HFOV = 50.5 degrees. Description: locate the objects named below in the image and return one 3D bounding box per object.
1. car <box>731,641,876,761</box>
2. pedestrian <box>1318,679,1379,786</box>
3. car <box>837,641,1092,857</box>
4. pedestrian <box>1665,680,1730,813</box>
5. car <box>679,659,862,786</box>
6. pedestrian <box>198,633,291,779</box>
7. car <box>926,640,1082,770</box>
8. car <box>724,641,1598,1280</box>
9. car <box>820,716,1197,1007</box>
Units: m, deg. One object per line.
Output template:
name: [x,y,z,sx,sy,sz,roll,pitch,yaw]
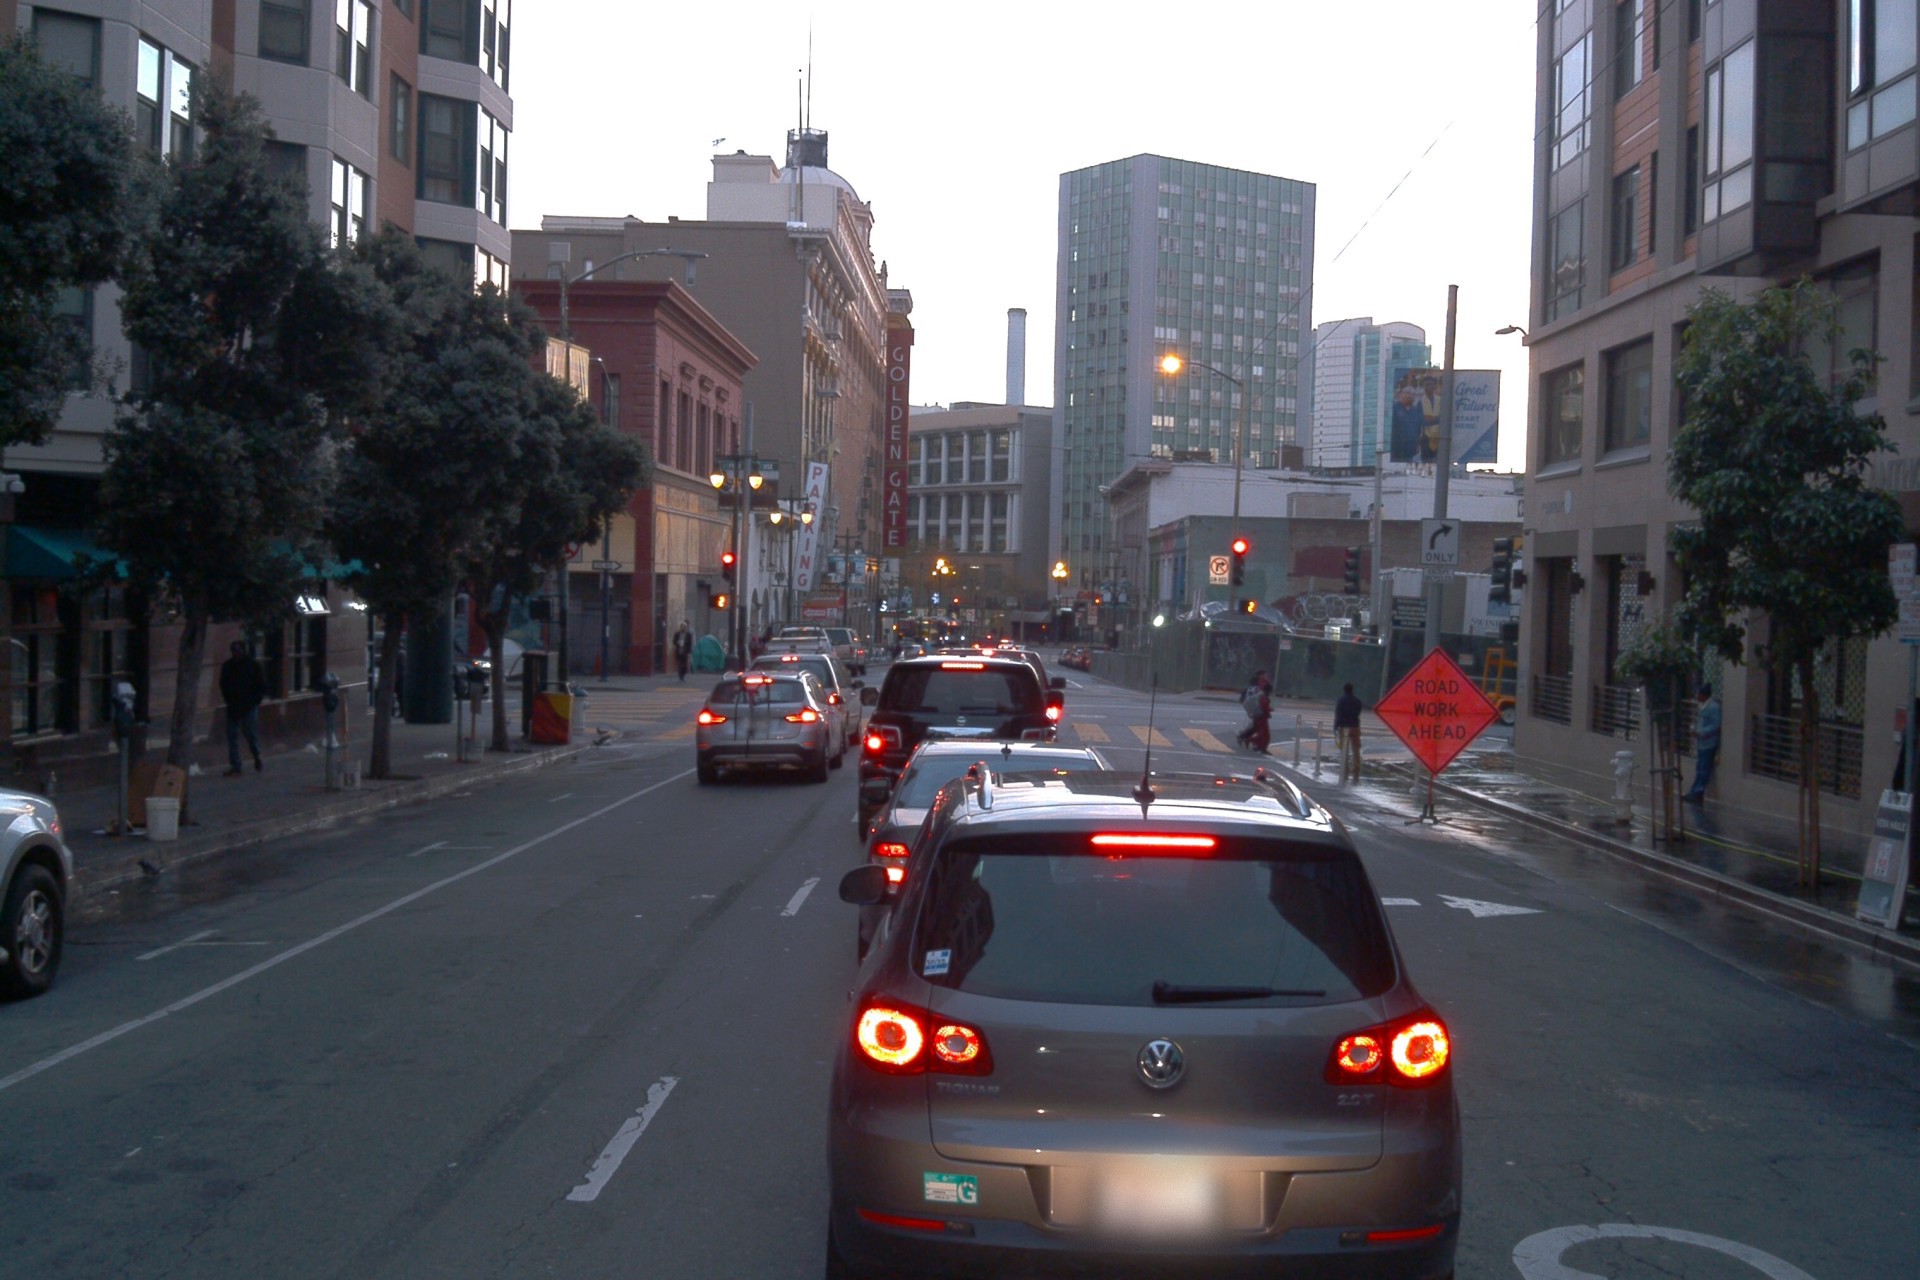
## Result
car: [-2.657,1.004,35.546,1.896,1.880,4.462,1,1,4]
pedestrian: [6.687,1.583,35.068,0.777,1.790,0.924,1,1,-3]
car: [0.036,1.033,21.904,2.368,1.940,5.339,1,1,0]
pedestrian: [10.762,1.539,29.715,0.659,1.890,0.755,1,1,4]
car: [-2.614,1.116,29.079,2.110,1.572,4.118,1,1,1]
pedestrian: [-9.392,0.851,26.756,0.828,1.860,1.059,1,1,-1]
car: [0.622,0.861,29.391,2.036,1.650,4.678,1,1,1]
car: [0.546,1.066,7.023,2.109,2.050,3.981,1,1,2]
car: [0.292,1.326,13.592,2.089,1.400,4.279,1,1,1]
